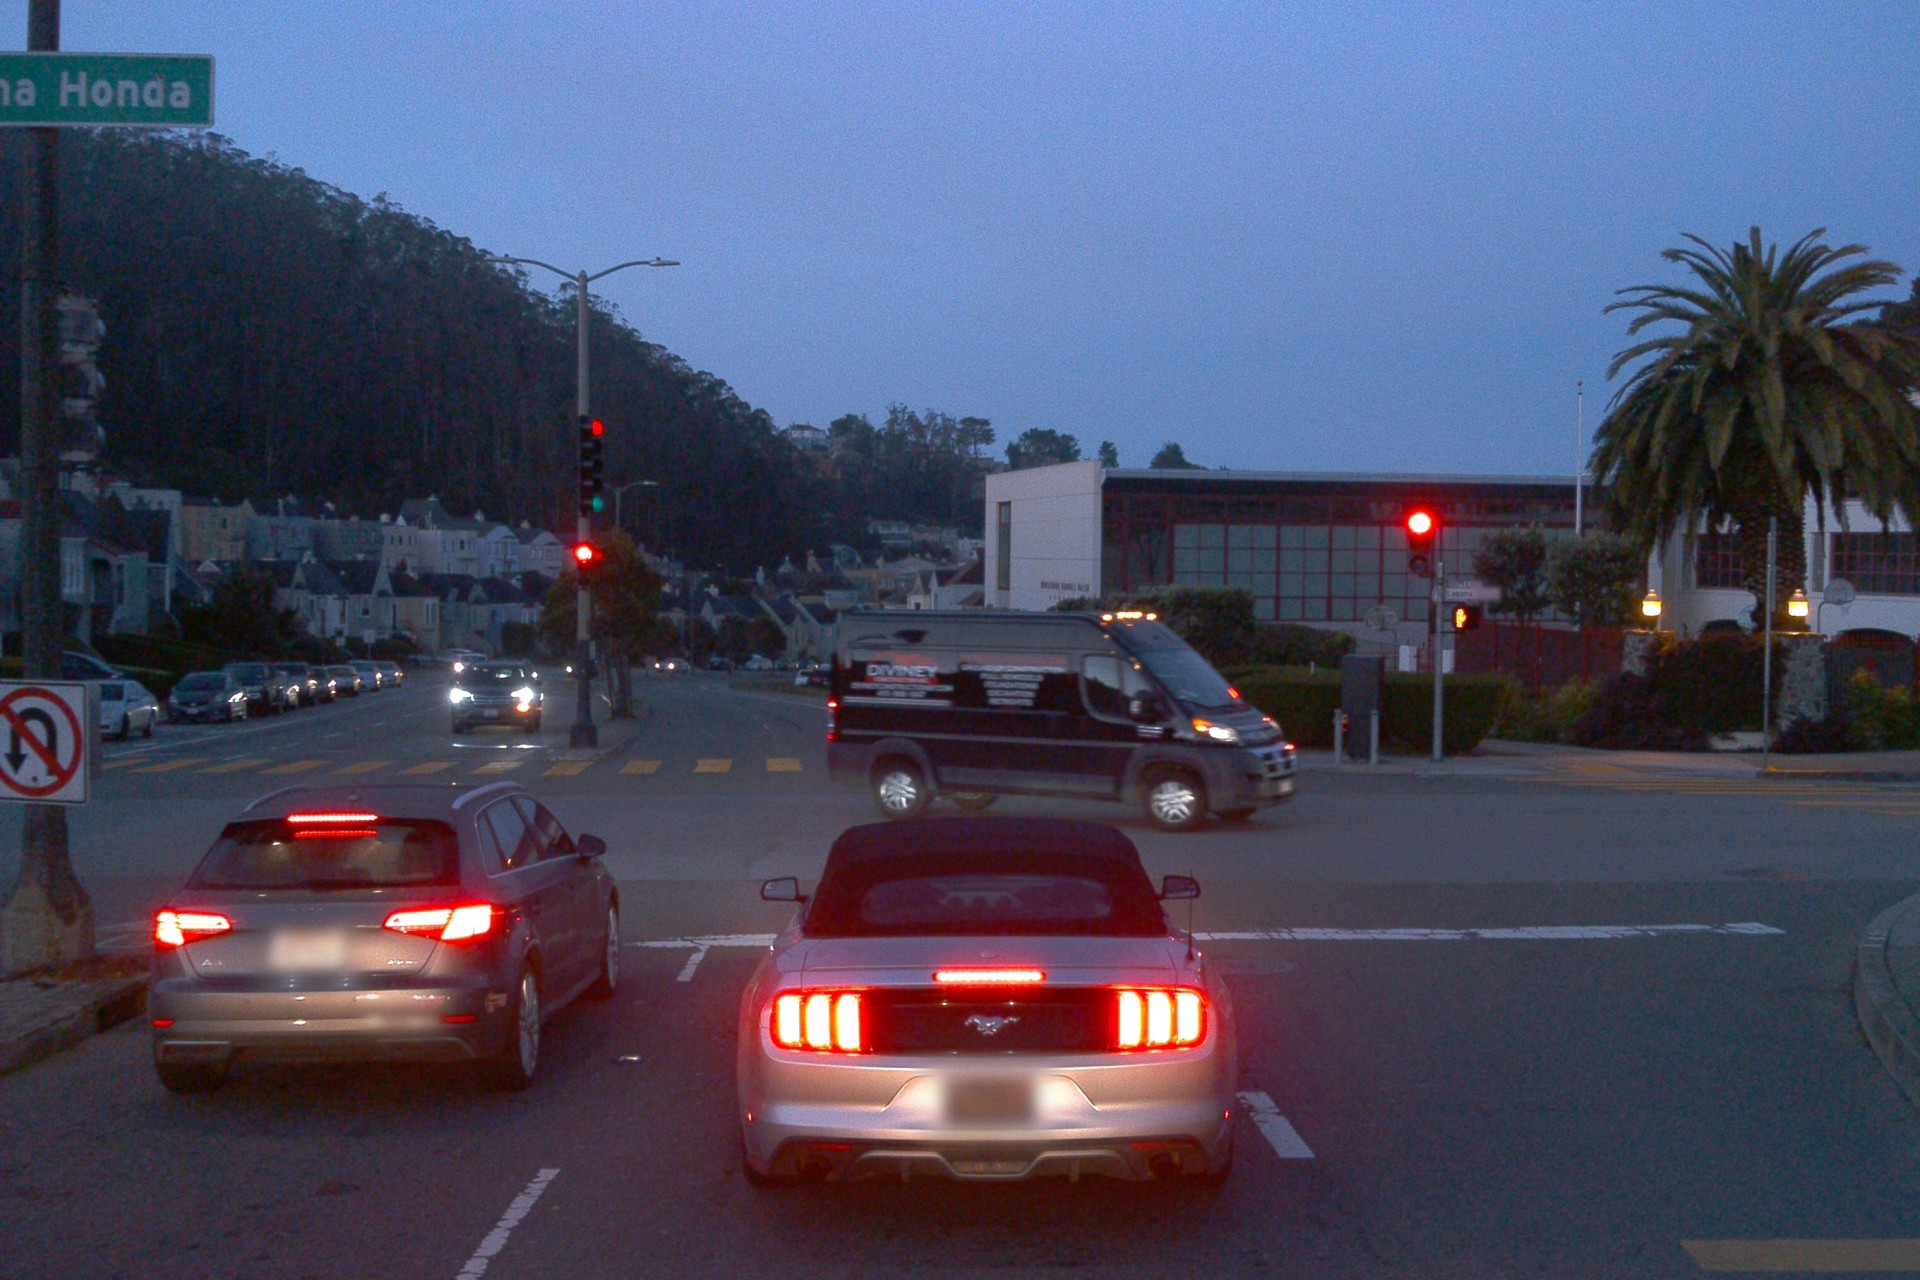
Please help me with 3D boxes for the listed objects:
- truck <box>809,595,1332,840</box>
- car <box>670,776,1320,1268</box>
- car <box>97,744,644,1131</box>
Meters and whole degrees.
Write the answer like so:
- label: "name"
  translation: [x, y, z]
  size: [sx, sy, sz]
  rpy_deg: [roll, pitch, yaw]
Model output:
- label: "truck"
  translation: [1.278, 0.836, 24.598]
  size: [5.658, 2.610, 2.546]
  rpy_deg: [0, 0, 29]
- label: "car"
  translation: [0.099, 1.422, 9.110]
  size: [2.174, 1.380, 4.355]
  rpy_deg: [0, 0, 0]
- label: "car"
  translation: [-2.886, 1.402, 11.058]
  size: [1.782, 1.510, 3.987]
  rpy_deg: [0, 0, 0]
